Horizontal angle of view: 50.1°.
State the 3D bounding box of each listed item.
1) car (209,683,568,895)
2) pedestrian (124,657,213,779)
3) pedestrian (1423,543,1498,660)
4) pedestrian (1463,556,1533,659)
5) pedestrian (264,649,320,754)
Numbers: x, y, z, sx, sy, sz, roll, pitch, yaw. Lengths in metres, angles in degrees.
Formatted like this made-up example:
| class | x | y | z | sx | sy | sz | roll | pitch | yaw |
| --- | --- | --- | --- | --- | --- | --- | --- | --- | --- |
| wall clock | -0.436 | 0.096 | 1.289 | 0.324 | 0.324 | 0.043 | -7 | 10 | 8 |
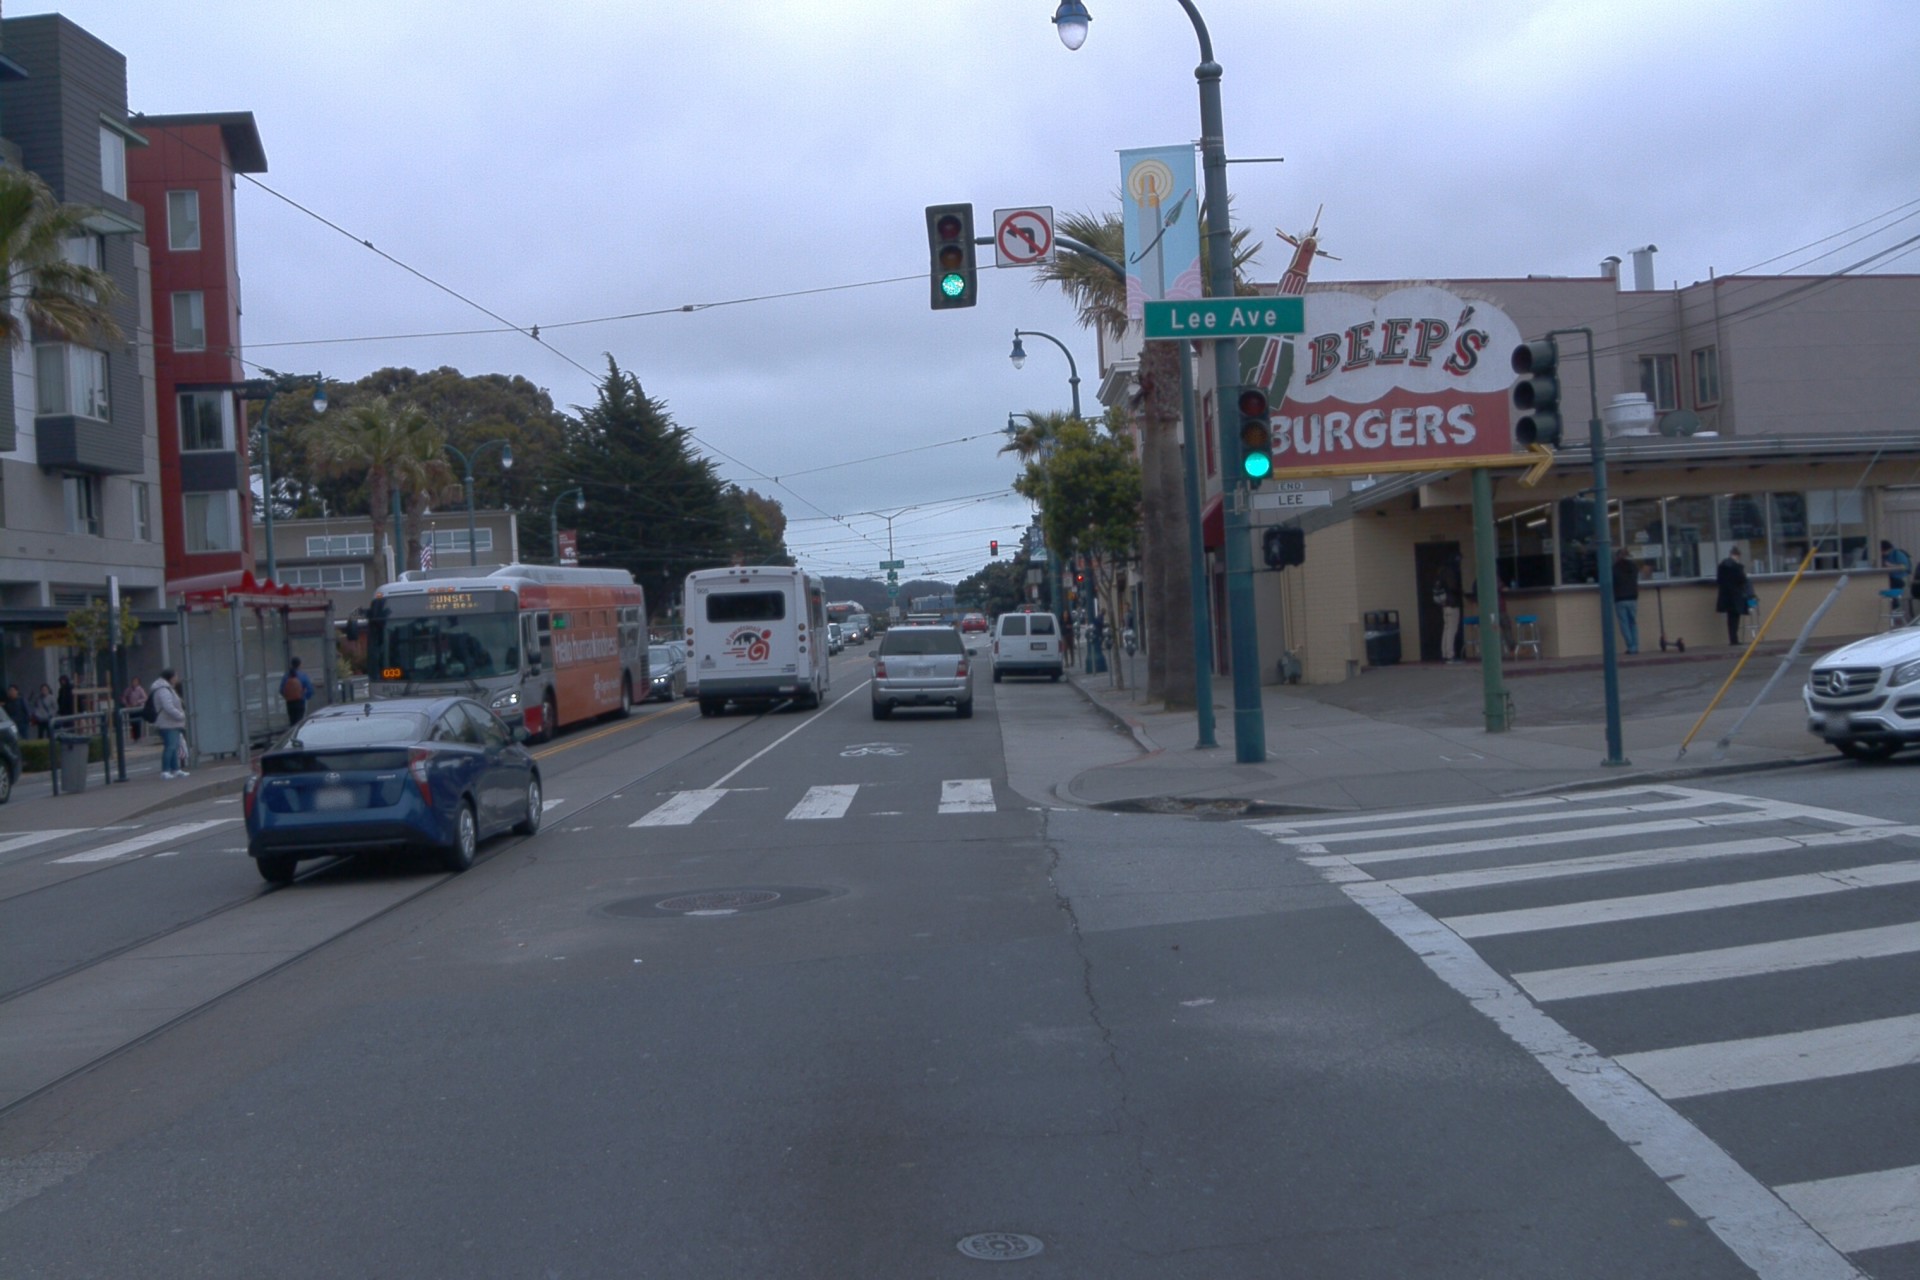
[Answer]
| class | x | y | z | sx | sy | sz | roll | pitch | yaw |
| --- | --- | --- | --- | --- | --- | --- | --- | --- | --- |
| car | -4.999 | 1.245 | 18.645 | 1.972 | 1.540 | 4.259 | 0 | 1 | 1 |
| pedestrian | -11.456 | 1.116 | 29.771 | 0.980 | 1.700 | 0.856 | 1 | 1 | 45 |
| pedestrian | 8.509 | -0.653 | 34.986 | 0.829 | 1.970 | 0.942 | -1 | 1 | -26 |
| pedestrian | 8.997 | -0.548 | 34.415 | 0.818 | 1.710 | 0.860 | -1 | 1 | -13 |
| pedestrian | -11.088 | 1.016 | 34.147 | 0.691 | 1.720 | 0.677 | 0 | 1 | 0 |
